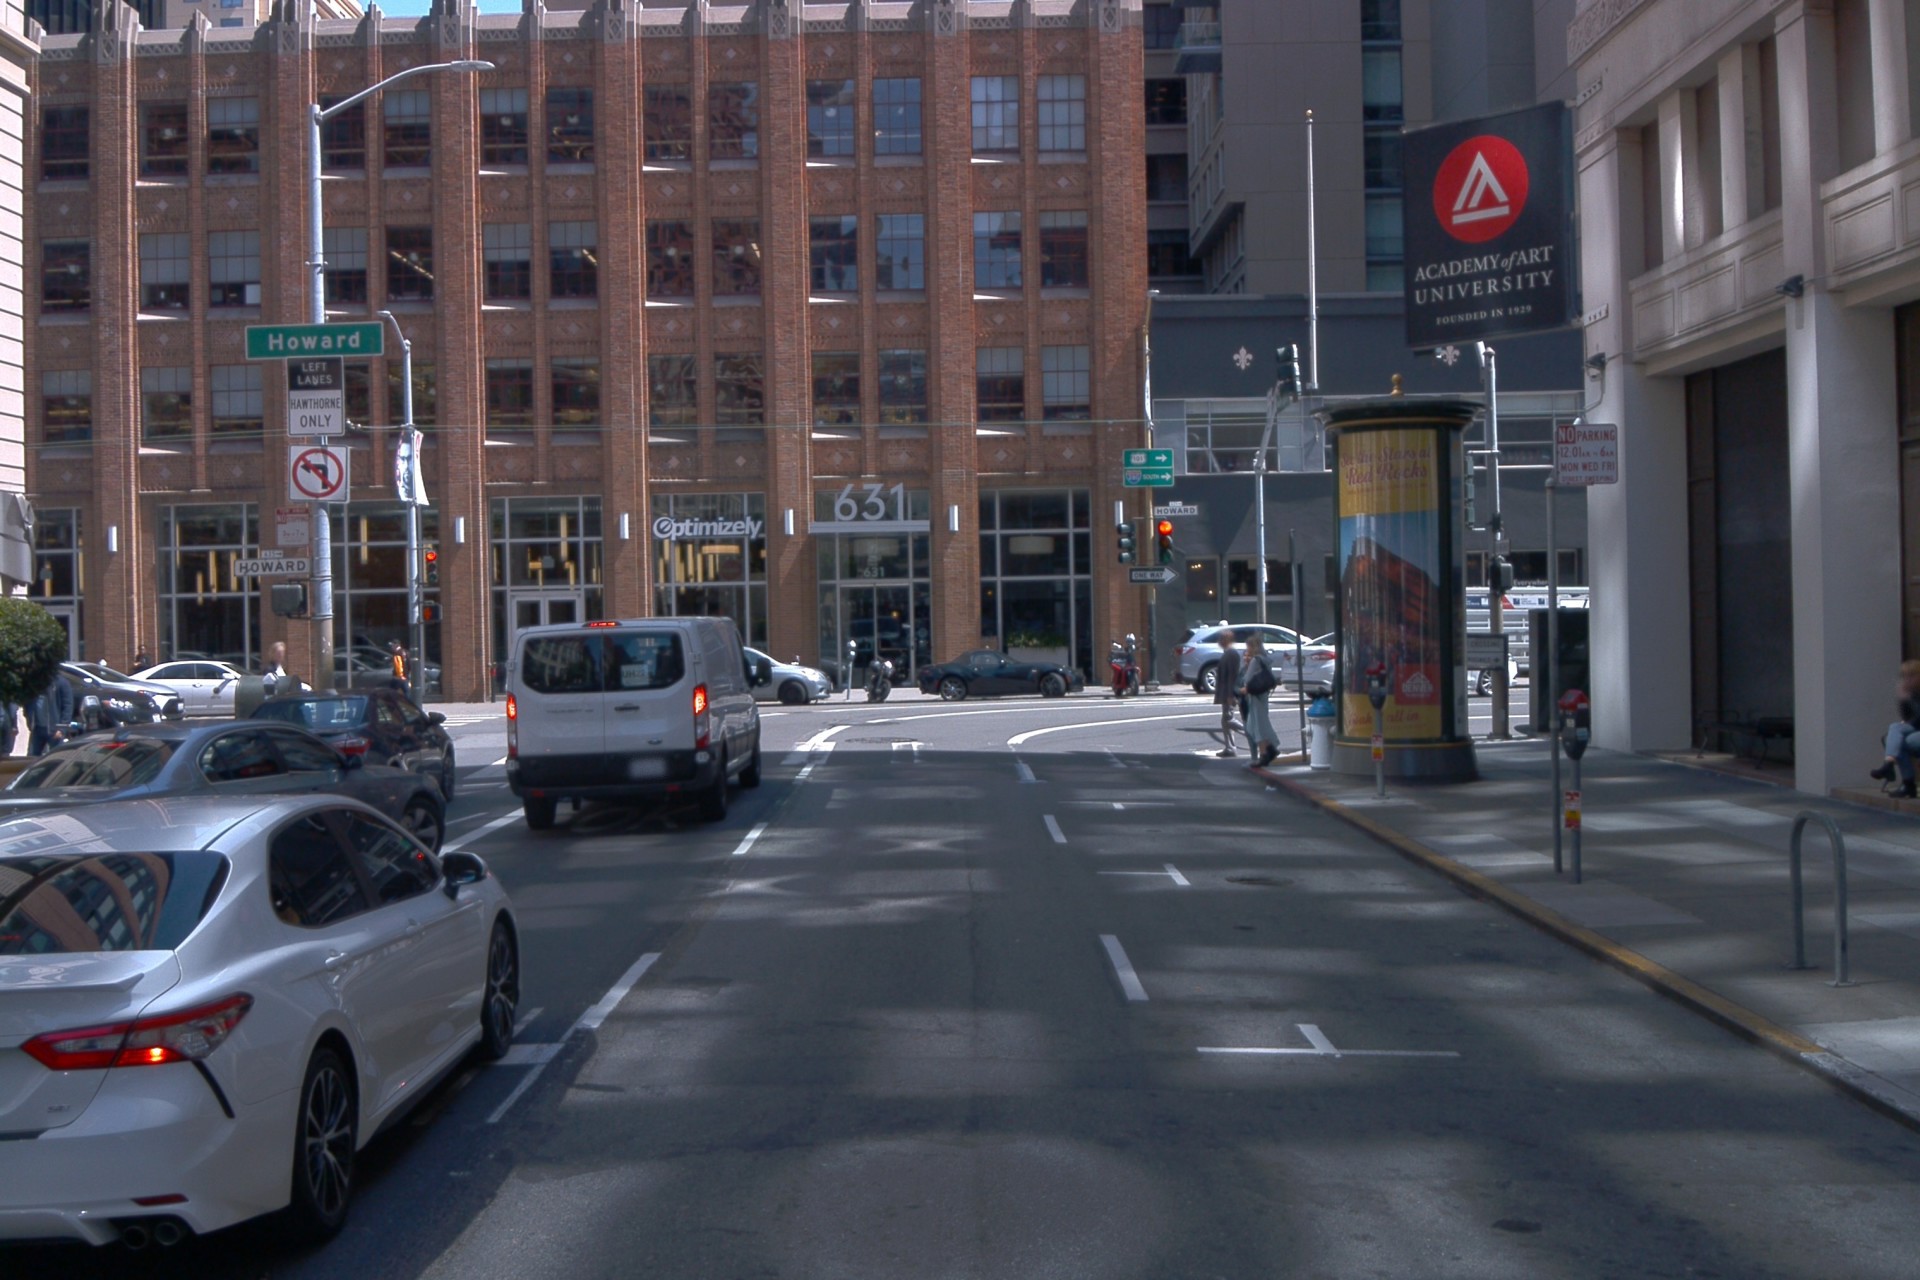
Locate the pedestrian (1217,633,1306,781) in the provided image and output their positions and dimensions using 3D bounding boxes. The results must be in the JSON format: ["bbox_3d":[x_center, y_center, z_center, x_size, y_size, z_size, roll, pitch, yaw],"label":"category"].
[{"bbox_3d":[3.902,0.844,26.604,0.946,1.870,0.617,1,1,44],"label":"pedestrian"}]

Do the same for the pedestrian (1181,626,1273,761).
[{"bbox_3d":[3.829,0.756,29.558,1.239,1.915,0.856,0,1,3],"label":"pedestrian"}]

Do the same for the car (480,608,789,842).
[{"bbox_3d":[-3.315,0.767,22.305,2.374,2.200,5.787,0,1,1],"label":"car"}]

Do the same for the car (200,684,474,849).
[{"bbox_3d":[-6.705,1.303,22.576,1.770,1.500,4.171,0,1,0],"label":"car"}]

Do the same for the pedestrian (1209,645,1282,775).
[{"bbox_3d":[3.794,0.912,27.251,0.892,1.690,0.795,0,1,13],"label":"pedestrian"}]
